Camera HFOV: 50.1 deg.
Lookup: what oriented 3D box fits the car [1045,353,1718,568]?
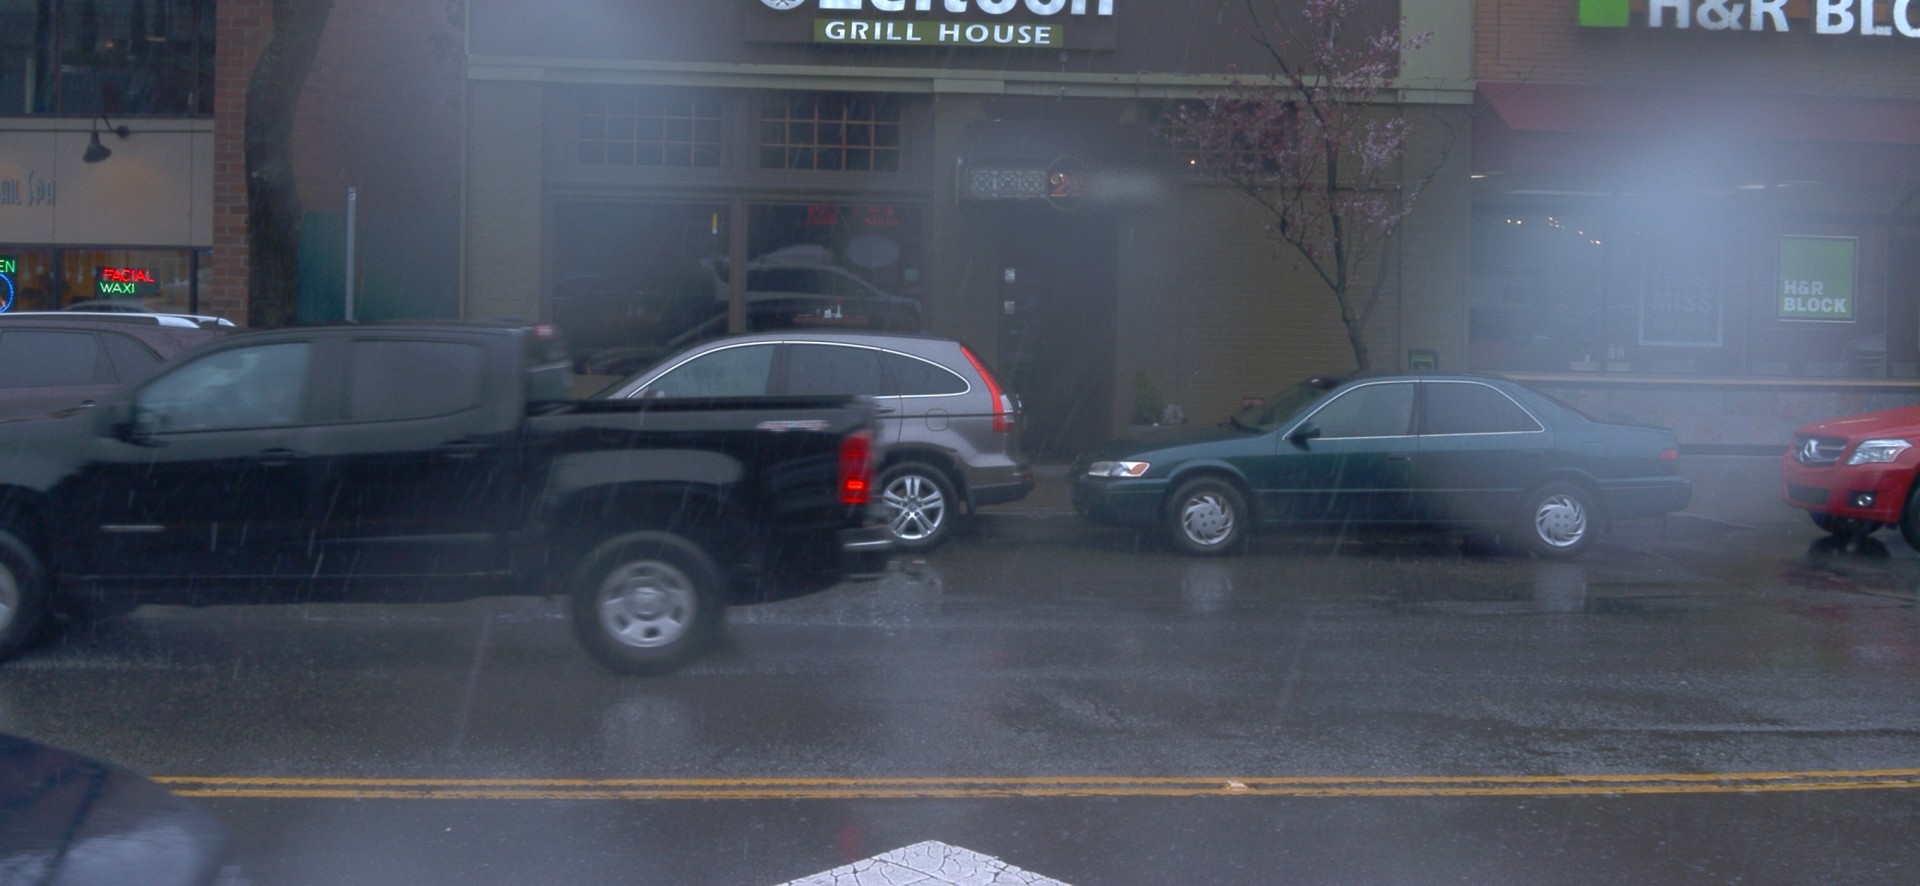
[{"bbox_3d":[3.168,0.095,16.103,4.797,1.414,1.988,0,5,-4],"label":"car"}]

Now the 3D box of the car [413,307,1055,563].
[{"bbox_3d":[-1.701,-0.117,15.803,4.605,1.724,1.918,0,4,-6],"label":"car"}]
